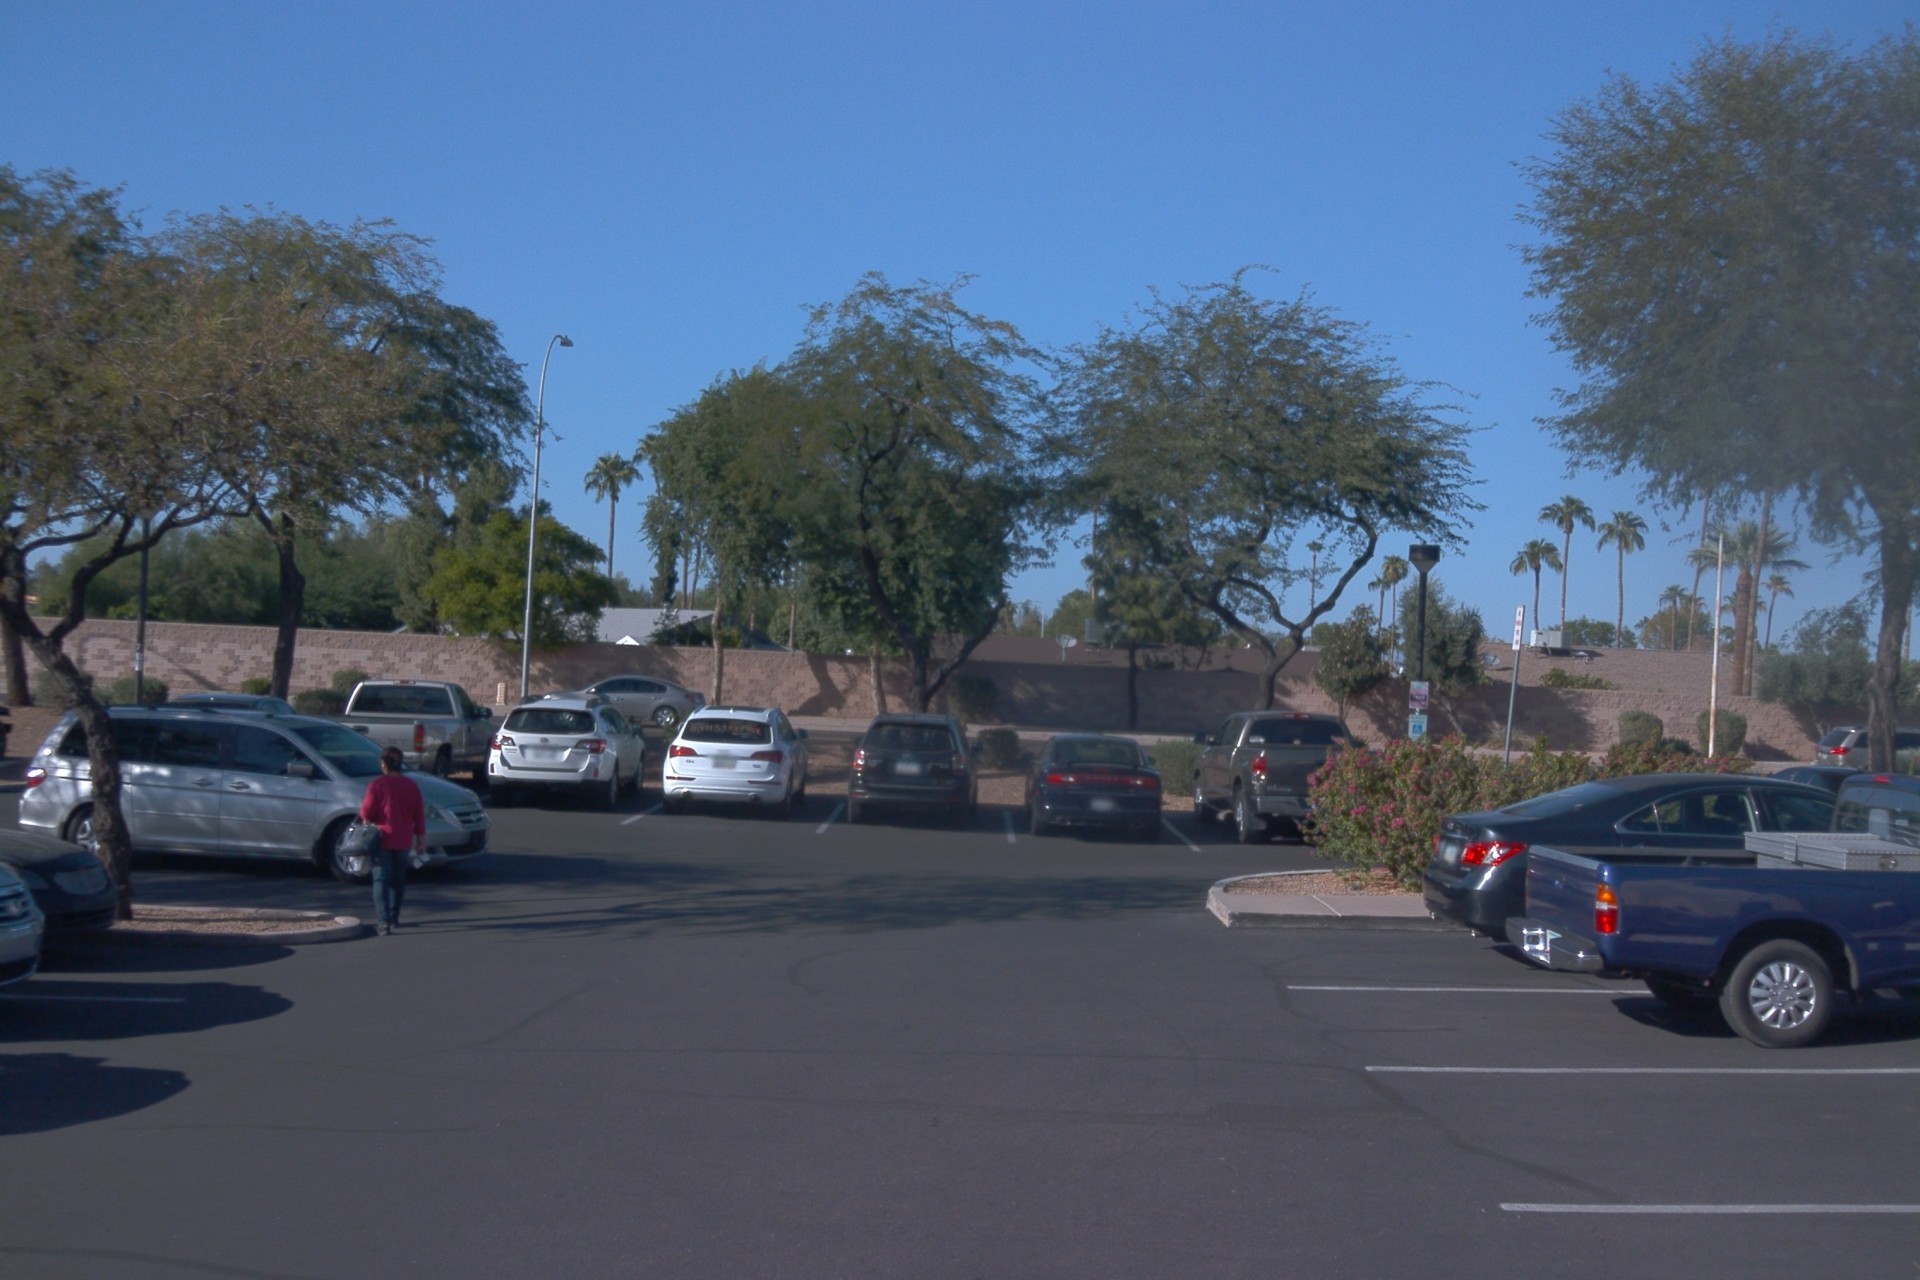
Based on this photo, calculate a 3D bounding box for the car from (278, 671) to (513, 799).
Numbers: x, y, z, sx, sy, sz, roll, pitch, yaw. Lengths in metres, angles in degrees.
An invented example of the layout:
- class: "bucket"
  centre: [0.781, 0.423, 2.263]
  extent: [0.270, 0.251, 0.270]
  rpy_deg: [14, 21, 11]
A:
- class: "car"
  centre: [-8.761, 1.427, 32.656]
  extent: [2.243, 1.840, 4.834]
  rpy_deg: [1, -1, 1]

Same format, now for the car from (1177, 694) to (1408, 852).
- class: "car"
  centre: [4.972, 1.944, 31.984]
  extent: [2.293, 2.160, 5.703]
  rpy_deg: [1, -1, -4]

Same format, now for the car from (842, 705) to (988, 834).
- class: "car"
  centre: [-0.625, 1.935, 32.057]
  extent: [2.055, 1.790, 4.106]
  rpy_deg: [1, -1, 1]

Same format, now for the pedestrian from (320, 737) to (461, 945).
- class: "pedestrian"
  centre: [-4.881, 1.686, 17.747]
  extent: [0.981, 1.680, 1.039]
  rpy_deg: [1, -1, -25]

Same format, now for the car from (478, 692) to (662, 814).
- class: "car"
  centre: [-6.002, 1.701, 32.437]
  extent: [1.951, 1.740, 4.339]
  rpy_deg: [1, -1, 1]

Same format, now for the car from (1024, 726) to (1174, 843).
- class: "car"
  centre: [2.044, 2.146, 31.733]
  extent: [2.065, 1.540, 4.526]
  rpy_deg: [1, -1, 1]

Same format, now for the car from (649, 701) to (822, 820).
- class: "car"
  centre: [-3.430, 1.823, 32.474]
  extent: [2.131, 1.680, 4.319]
  rpy_deg: [1, -1, 1]
